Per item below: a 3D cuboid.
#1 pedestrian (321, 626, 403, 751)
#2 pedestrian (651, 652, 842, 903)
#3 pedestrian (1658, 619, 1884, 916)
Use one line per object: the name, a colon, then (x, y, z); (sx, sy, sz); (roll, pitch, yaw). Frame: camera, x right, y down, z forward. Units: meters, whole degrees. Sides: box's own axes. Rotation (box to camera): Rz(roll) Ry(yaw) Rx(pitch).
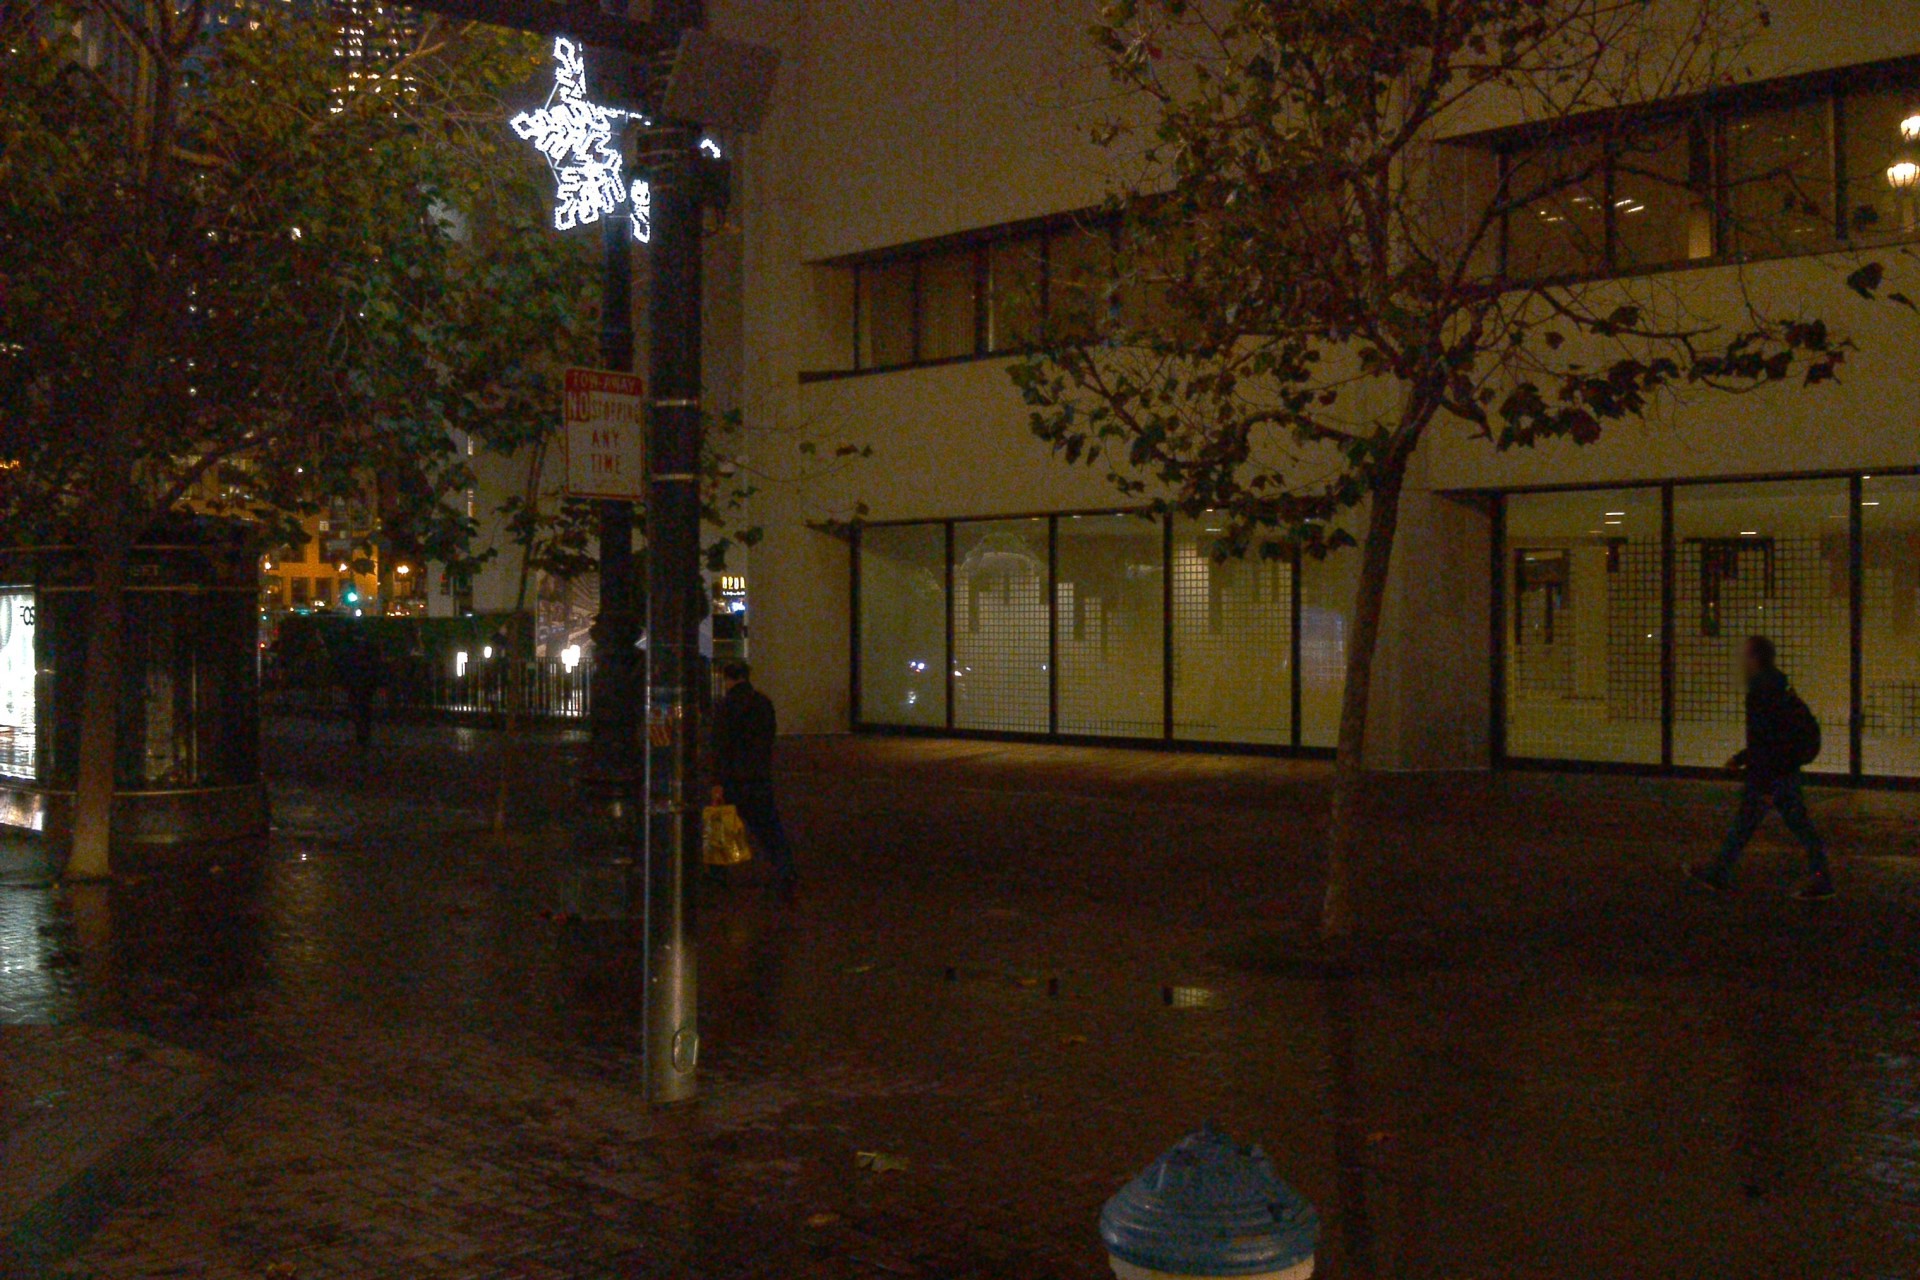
pedestrian: (-8.702, 0.695, 29.800); (0.860, 1.780, 1.103); (1, 0, -33)
pedestrian: (-1.570, 0.965, 15.016); (0.941, 1.740, 1.066); (1, 0, -41)
pedestrian: (5.315, 0.796, 13.454); (0.757, 1.850, 1.145); (1, 0, -39)
